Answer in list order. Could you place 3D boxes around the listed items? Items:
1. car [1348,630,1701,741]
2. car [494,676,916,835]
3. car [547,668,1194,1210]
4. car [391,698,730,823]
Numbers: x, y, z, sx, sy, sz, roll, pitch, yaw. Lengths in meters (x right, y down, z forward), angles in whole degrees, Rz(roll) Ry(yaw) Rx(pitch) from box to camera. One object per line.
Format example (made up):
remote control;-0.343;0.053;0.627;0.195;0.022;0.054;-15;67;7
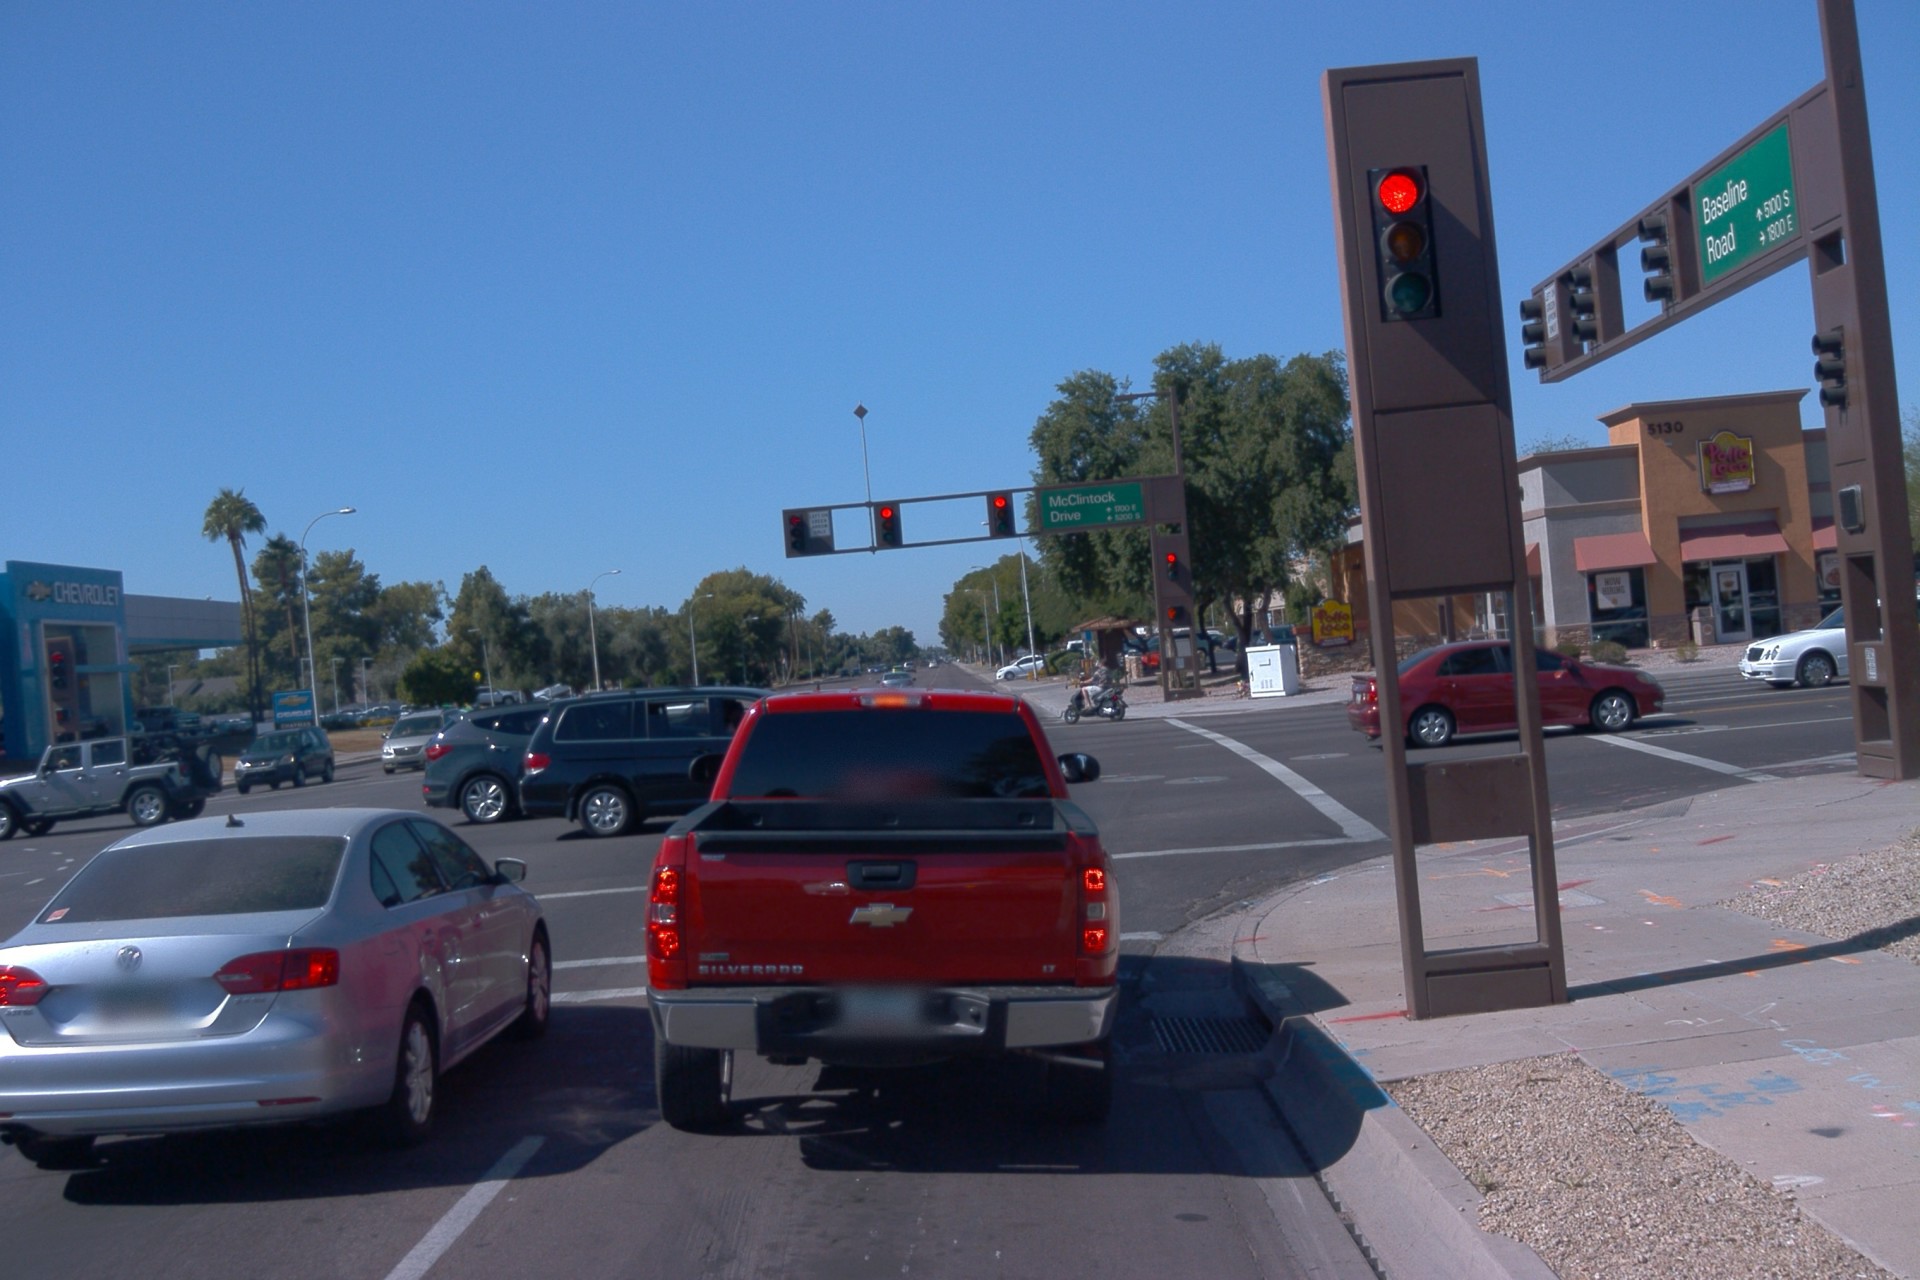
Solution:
car;8.045;0.652;29.987;4.561;1.500;1.879;1;-1;1
car;-3.081;1.403;26.002;4.965;1.840;2.143;1;-1;1
car;-0.387;1.228;11.120;2.538;2.120;5.758;1;-1;-1
car;-5.707;1.714;30.189;4.492;1.680;2.008;1;-1;1
